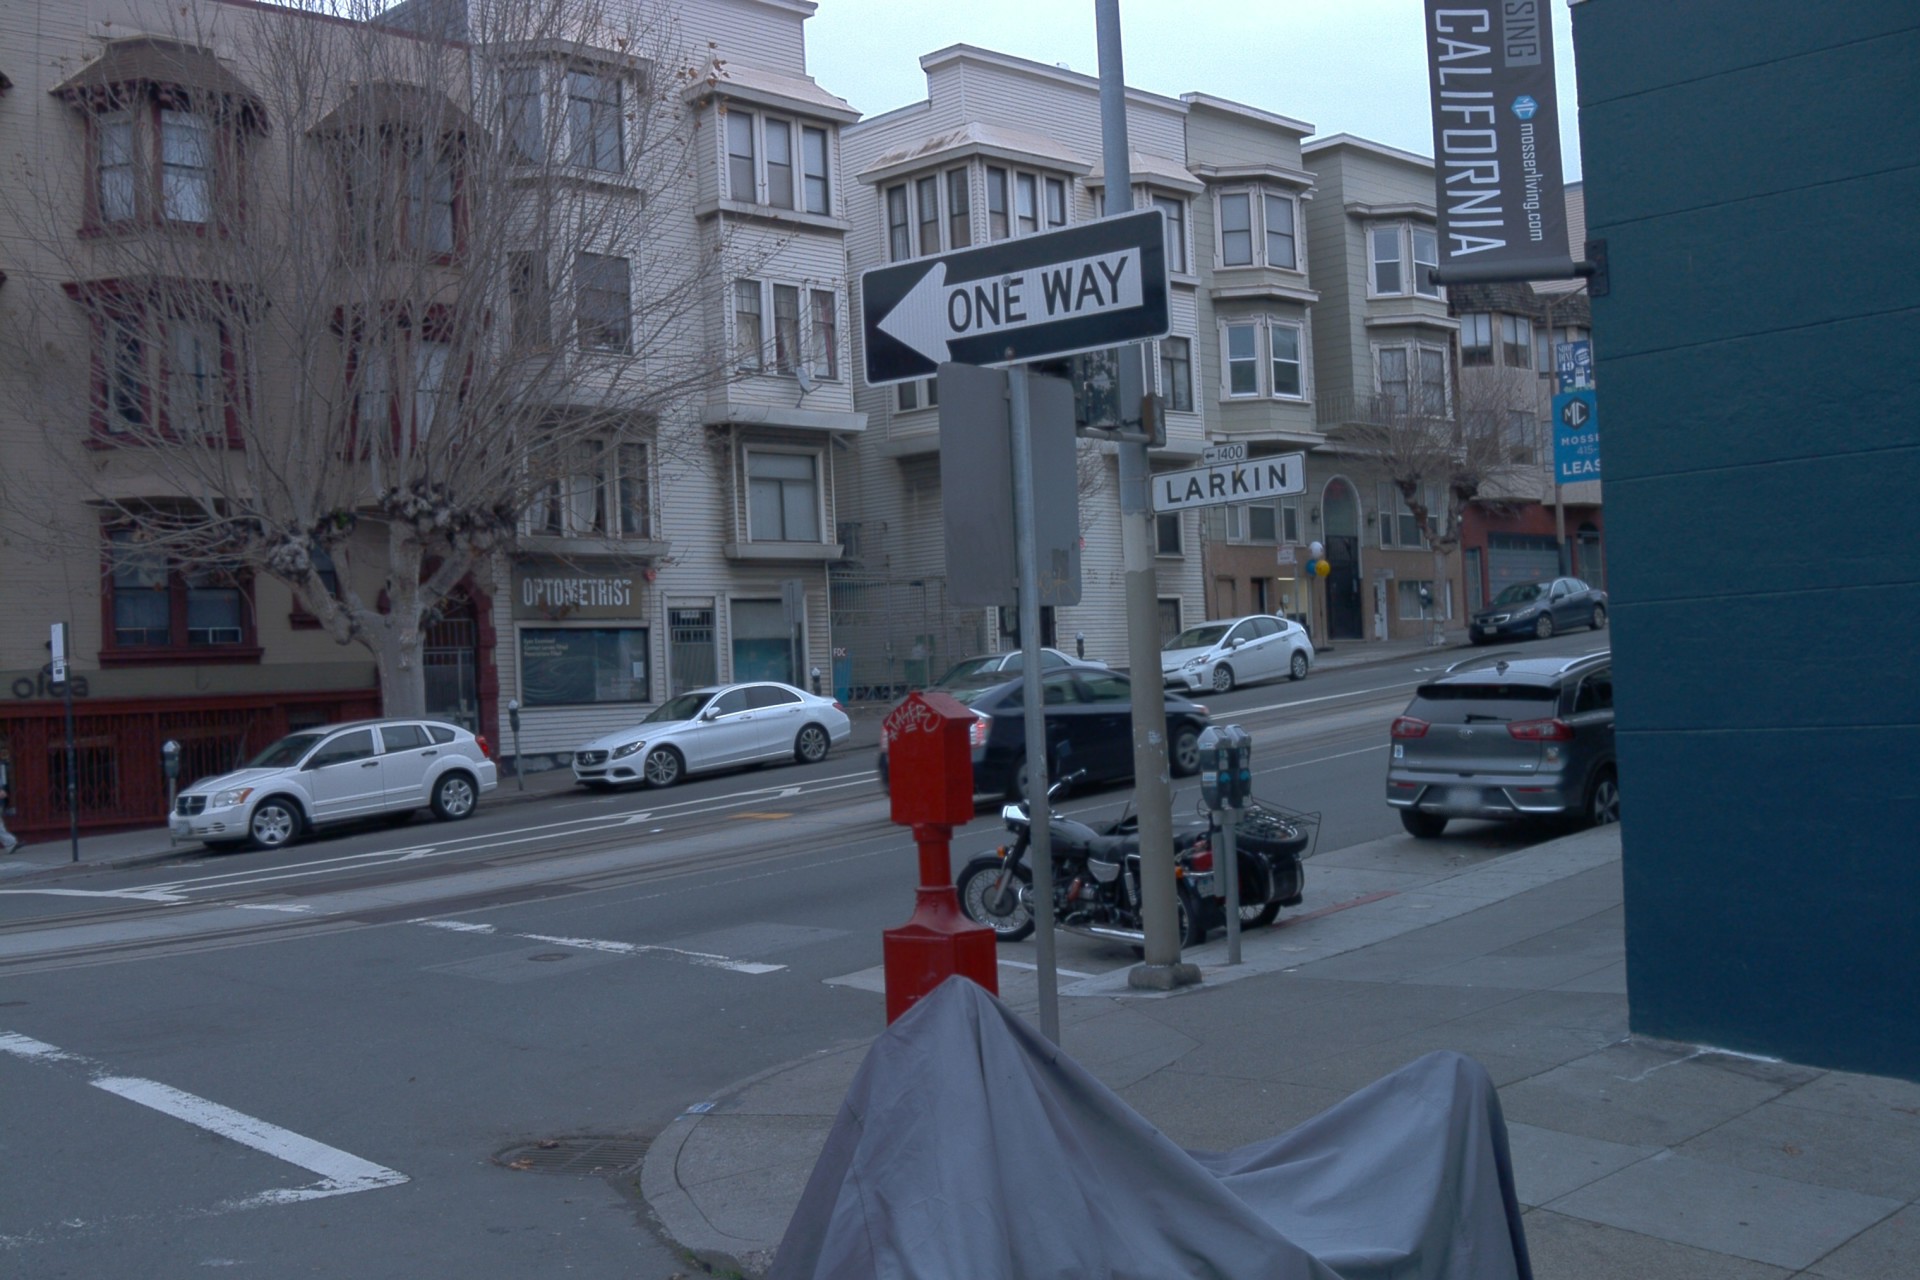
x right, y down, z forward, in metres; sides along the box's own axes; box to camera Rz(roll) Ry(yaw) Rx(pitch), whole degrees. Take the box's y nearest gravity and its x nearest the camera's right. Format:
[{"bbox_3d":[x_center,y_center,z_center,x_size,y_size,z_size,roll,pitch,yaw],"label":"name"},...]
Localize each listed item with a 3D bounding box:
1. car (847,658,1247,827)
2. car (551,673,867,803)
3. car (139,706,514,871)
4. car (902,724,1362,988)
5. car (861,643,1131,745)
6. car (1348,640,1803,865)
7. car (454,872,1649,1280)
[{"bbox_3d":[1.079,1.078,23.627,2.078,1.660,4.518,1,1,44],"label":"car"},{"bbox_3d":[-3.872,1.462,32.361,4.589,1.757,2.074,-1,1,-44],"label":"car"},{"bbox_3d":[-8.482,1.915,27.920,2.053,1.847,4.407,1,1,44],"label":"car"},{"bbox_3d":[1.133,1.377,14.055,2.745,1.460,1.540,0,1,42],"label":"car"},{"bbox_3d":[0.712,0.916,37.121,4.801,1.657,2.084,-1,1,-45],"label":"car"},{"bbox_3d":[5.645,0.882,18.583,2.132,1.717,4.606,0,1,42],"label":"car"},{"bbox_3d":[0.332,1.392,4.286,2.490,1.520,1.048,-1,1,-44],"label":"car"}]
